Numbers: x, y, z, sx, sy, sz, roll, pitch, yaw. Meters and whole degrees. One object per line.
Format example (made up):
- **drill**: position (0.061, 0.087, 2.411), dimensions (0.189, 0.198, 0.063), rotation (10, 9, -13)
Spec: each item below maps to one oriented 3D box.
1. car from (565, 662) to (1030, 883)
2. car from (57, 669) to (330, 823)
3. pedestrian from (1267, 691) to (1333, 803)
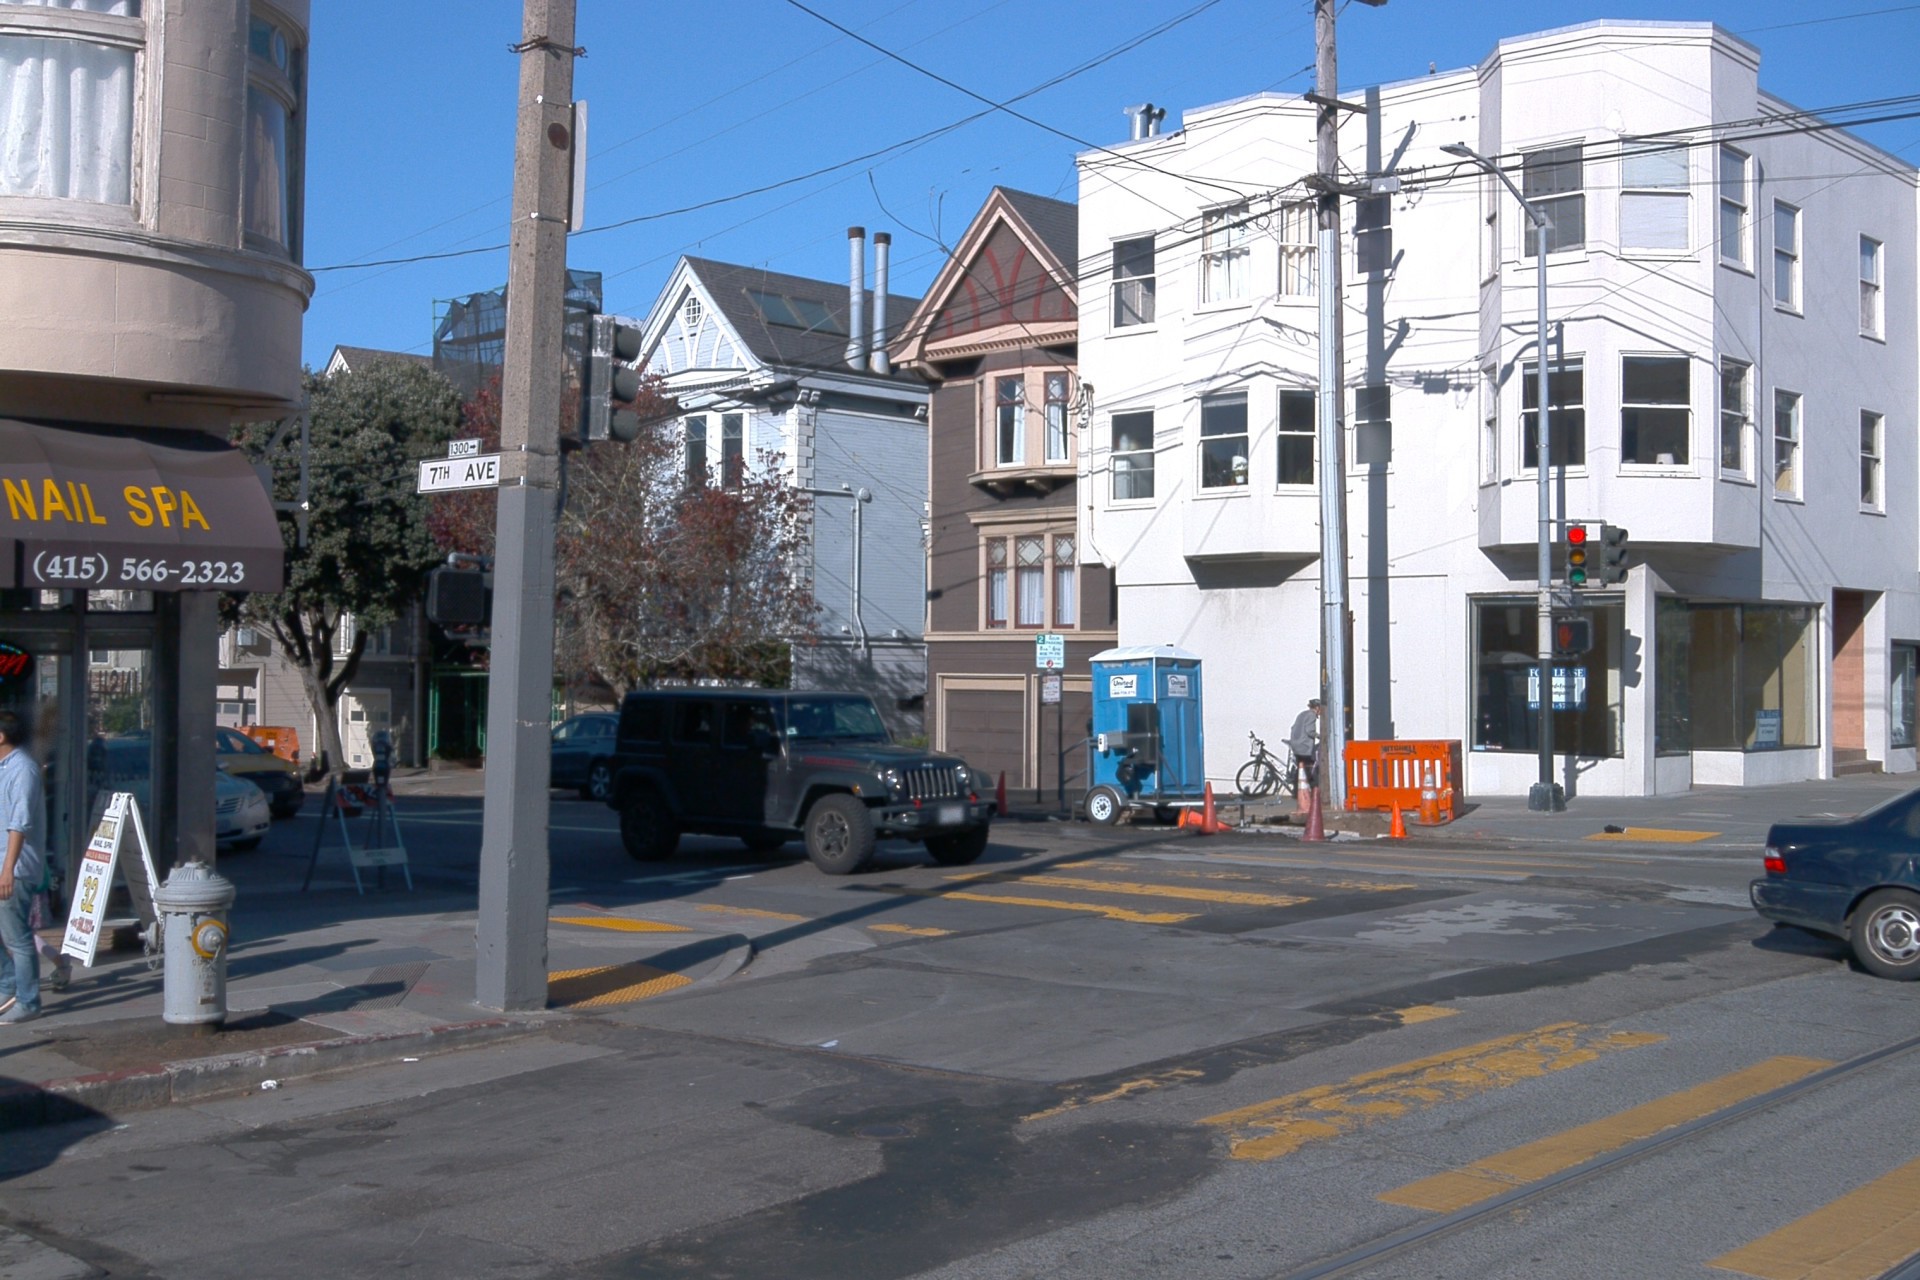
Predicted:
- **car**: position (-1.803, 1.248, 21.616), dimensions (4.903, 1.990, 2.075), rotation (0, 0, 43)
- **car**: position (-11.744, 1.519, 31.559), dimensions (2.094, 2.090, 4.984), rotation (0, 0, -43)
- **pedestrian**: position (5.325, 1.661, 32.450), dimensions (0.795, 1.690, 0.734), rotation (0, 0, 29)
